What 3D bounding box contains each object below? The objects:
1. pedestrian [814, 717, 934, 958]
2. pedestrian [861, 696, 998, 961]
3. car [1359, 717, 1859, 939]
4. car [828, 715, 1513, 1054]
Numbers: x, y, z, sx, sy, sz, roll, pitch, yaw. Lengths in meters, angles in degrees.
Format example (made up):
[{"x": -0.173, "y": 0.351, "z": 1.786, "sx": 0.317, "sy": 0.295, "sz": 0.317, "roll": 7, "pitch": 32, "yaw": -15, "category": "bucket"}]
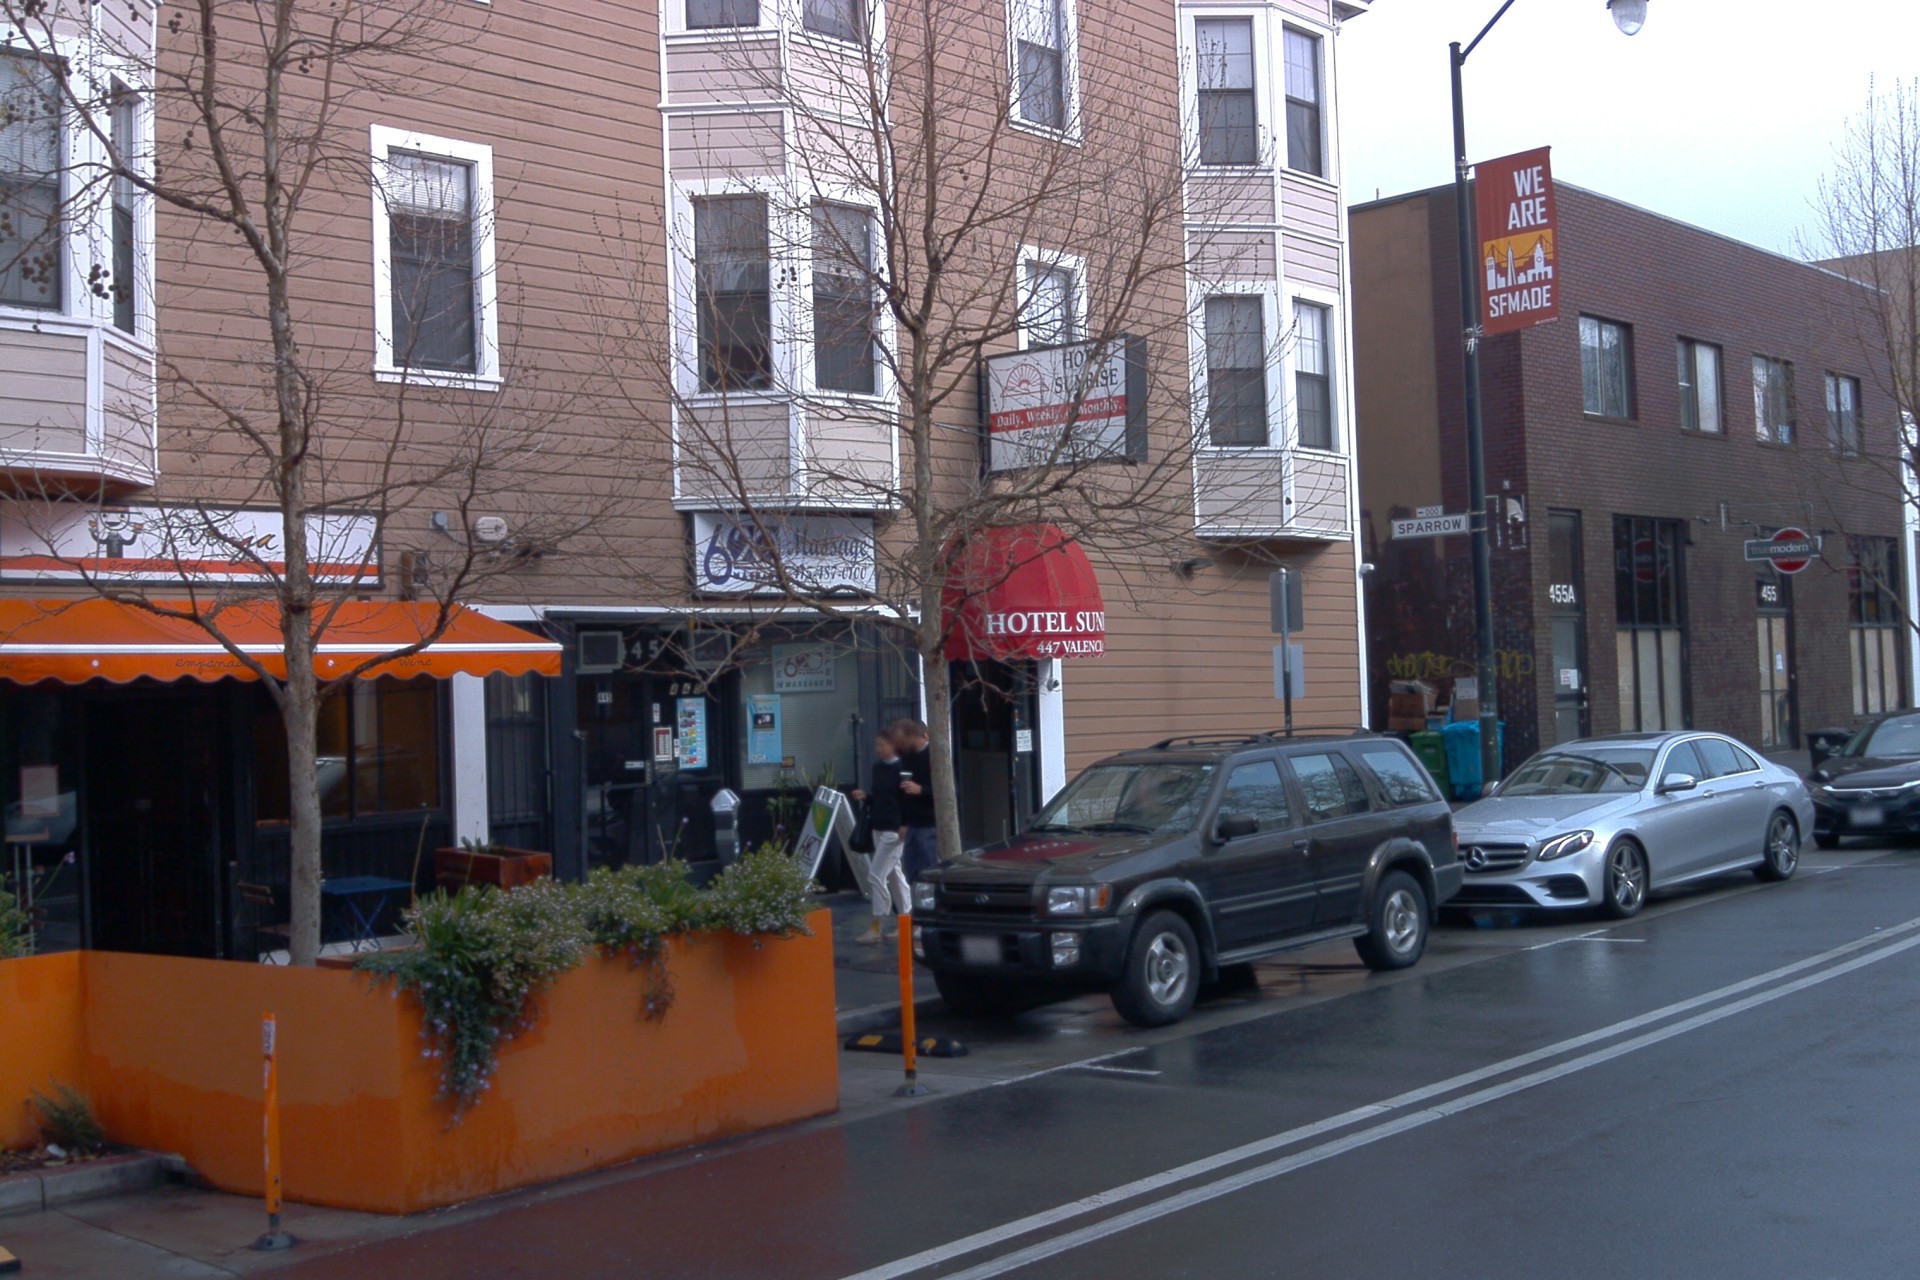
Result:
[{"x": -0.698, "y": 1.568, "z": 16.609, "sx": 0.643, "sy": 1.841, "sz": 0.733, "roll": -1, "pitch": 1, "yaw": -41, "category": "pedestrian"}, {"x": -0.240, "y": 1.431, "z": 15.950, "sx": 0.692, "sy": 1.941, "sz": 0.813, "roll": -1, "pitch": 1, "yaw": -42, "category": "pedestrian"}, {"x": 5.921, "y": 1.548, "z": 18.405, "sx": 4.941, "sy": 1.460, "sz": 2.147, "roll": -1, "pitch": 1, "yaw": -44, "category": "car"}, {"x": 1.600, "y": 1.495, "z": 14.250, "sx": 4.696, "sy": 1.690, "sz": 2.245, "roll": -1, "pitch": 1, "yaw": -45, "category": "car"}]
